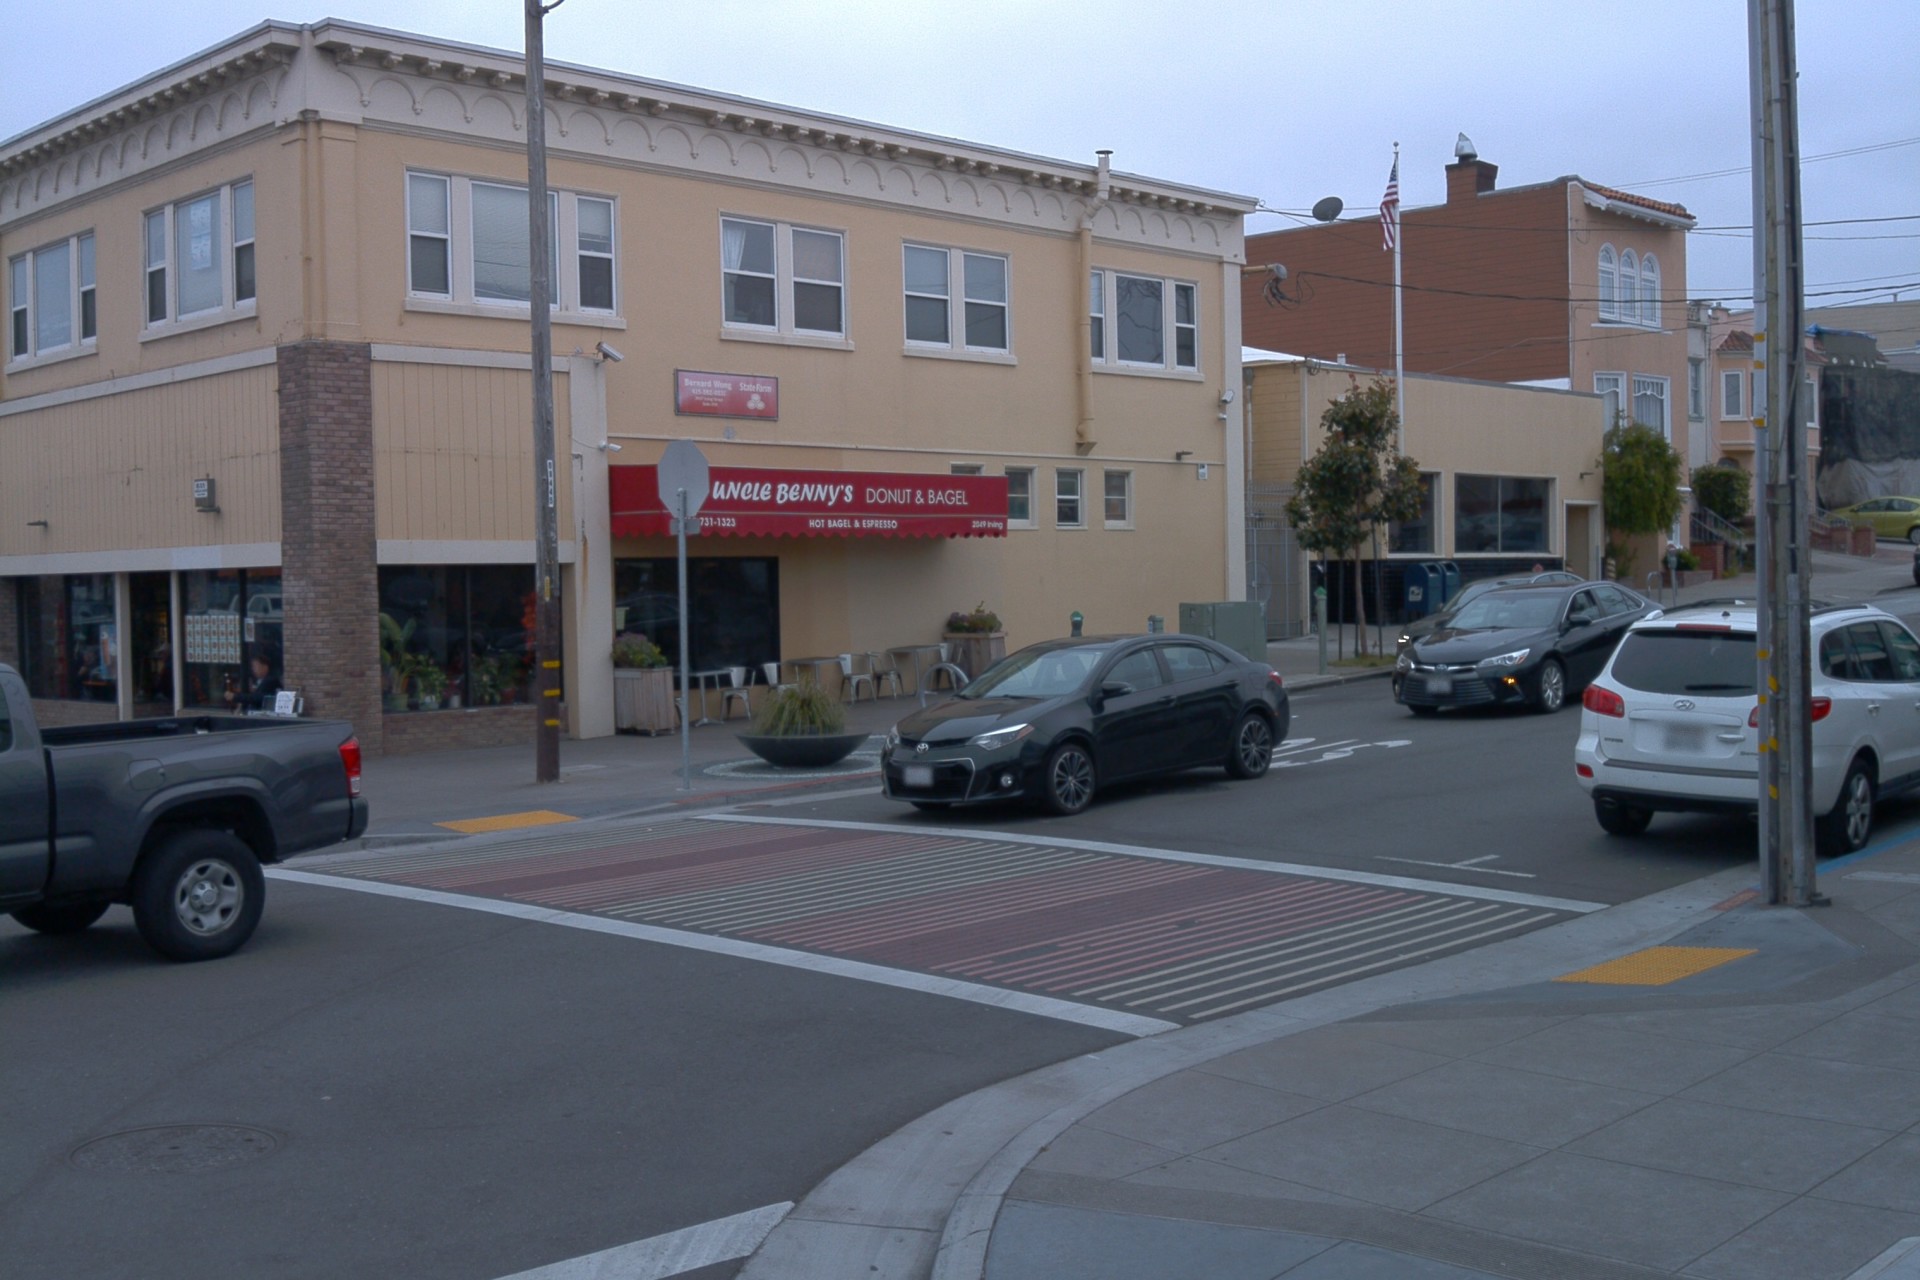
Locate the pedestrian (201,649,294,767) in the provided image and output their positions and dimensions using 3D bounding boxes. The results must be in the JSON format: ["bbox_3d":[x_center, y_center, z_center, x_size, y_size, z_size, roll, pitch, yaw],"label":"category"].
[{"bbox_3d":[-8.563,0.804,24.839,0.878,1.374,0.735,1,1,44],"label":"pedestrian"}]

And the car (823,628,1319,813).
[{"bbox_3d":[1.120,0.624,18.660,2.067,1.440,4.540,0,1,42],"label":"car"}]

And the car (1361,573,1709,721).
[{"bbox_3d":[7.182,0.056,25.483,2.082,1.644,4.864,1,1,44],"label":"car"}]
